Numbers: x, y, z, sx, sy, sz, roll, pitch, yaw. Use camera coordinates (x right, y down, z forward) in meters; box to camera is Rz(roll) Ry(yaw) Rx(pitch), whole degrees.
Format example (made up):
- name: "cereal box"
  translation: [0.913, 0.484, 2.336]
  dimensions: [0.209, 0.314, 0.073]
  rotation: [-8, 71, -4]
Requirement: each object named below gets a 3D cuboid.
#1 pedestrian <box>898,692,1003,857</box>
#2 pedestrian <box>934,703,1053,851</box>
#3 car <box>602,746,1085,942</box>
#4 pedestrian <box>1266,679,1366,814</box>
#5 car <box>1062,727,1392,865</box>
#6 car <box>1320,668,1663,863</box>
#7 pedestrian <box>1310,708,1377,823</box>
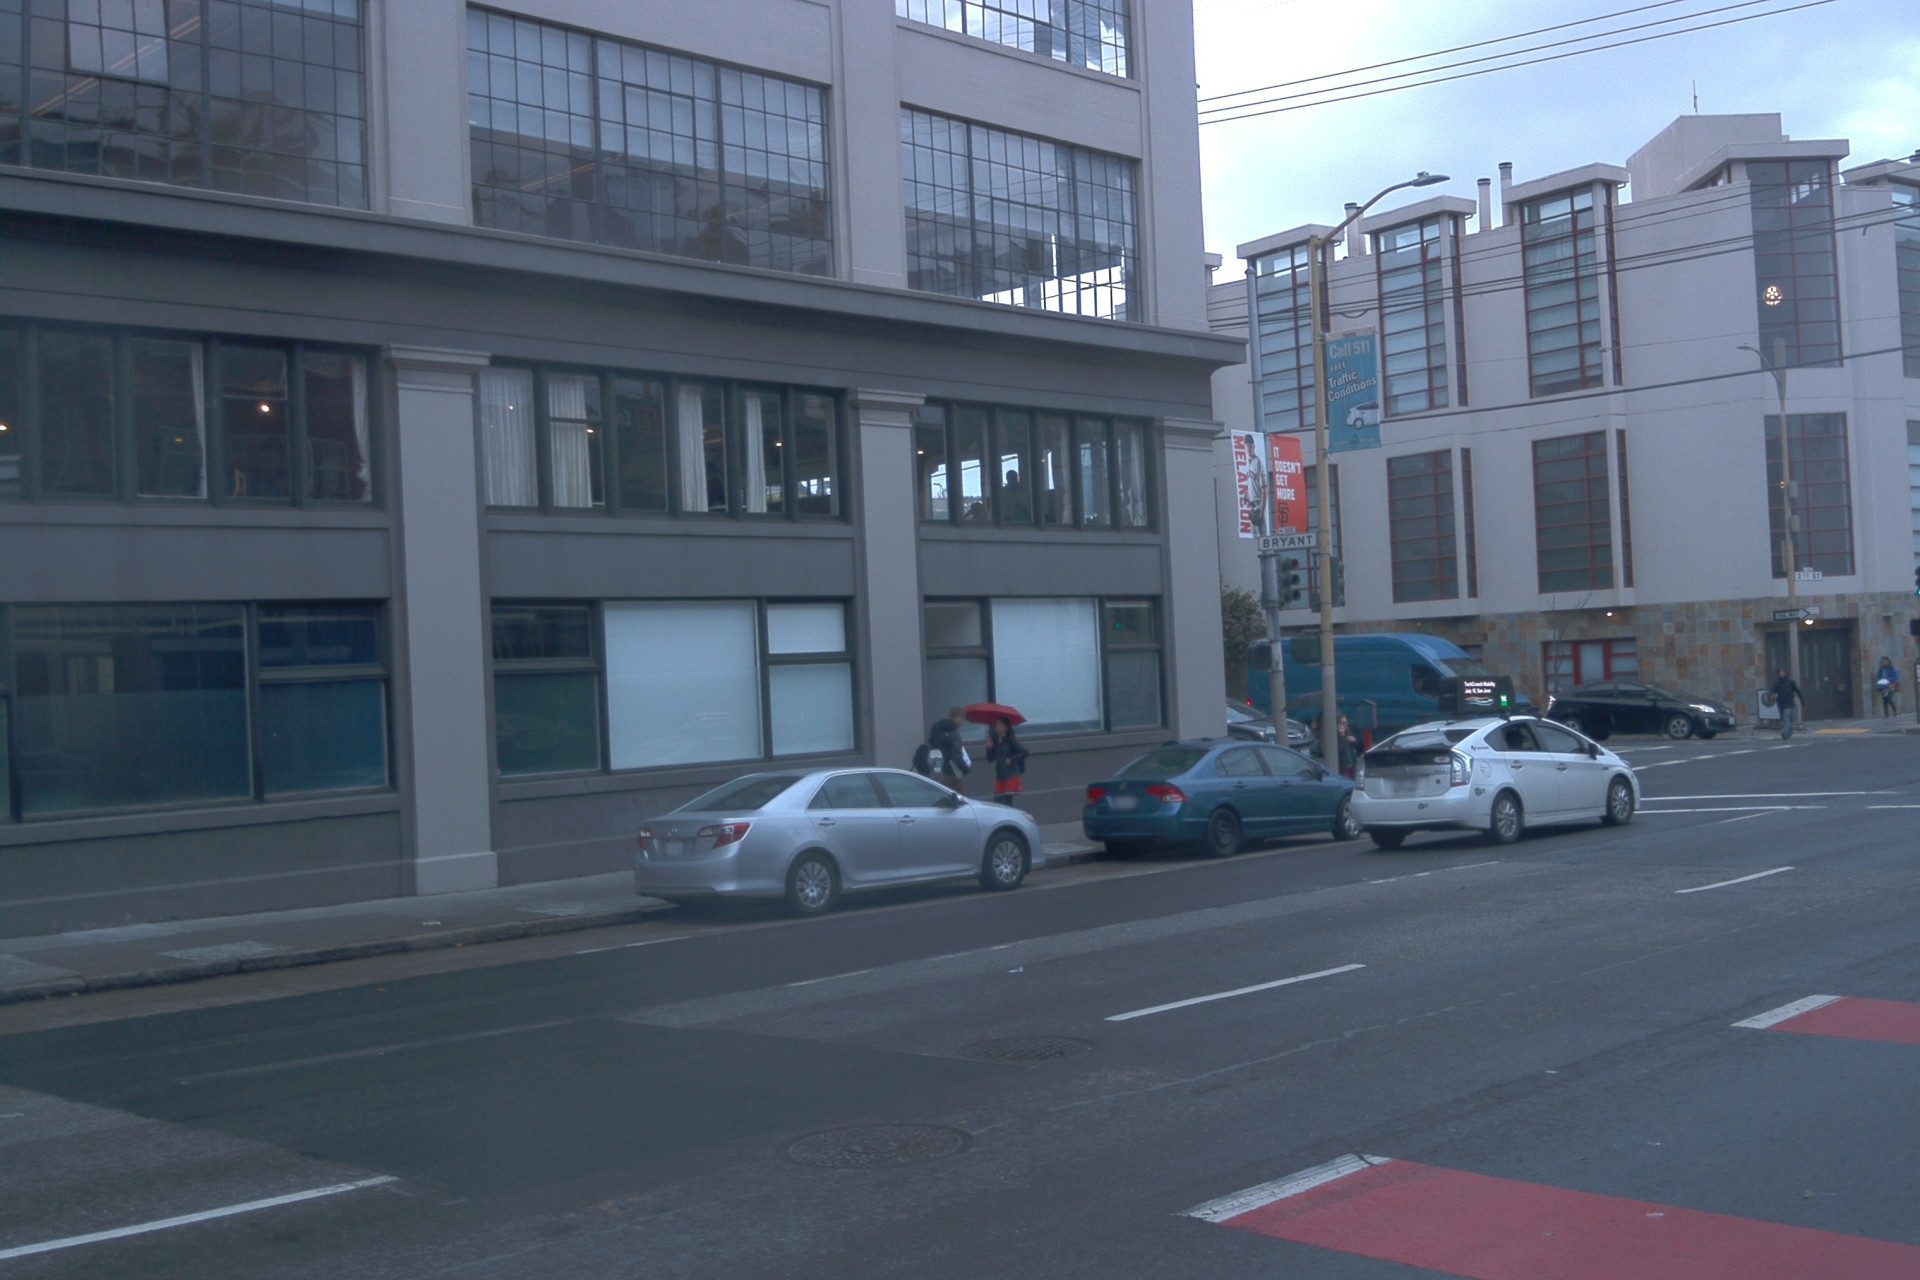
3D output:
- name: "pedestrian"
  translation: [-0.123, 1.674, 26.298]
  dimensions: [0.909, 1.990, 0.967]
  rotation: [0, 0, 44]
- name: "pedestrian"
  translation: [0.456, 1.824, 28.179]
  dimensions: [1.124, 1.900, 1.157]
  rotation: [0, 0, 44]
- name: "car"
  translation: [-1.096, 2.015, 21.781]
  dimensions: [2.014, 1.570, 4.989]
  rotation: [0, 0, 44]
- name: "pedestrian"
  translation: [5.785, 1.697, 33.787]
  dimensions: [1.132, 2.110, 1.190]
  rotation: [0, 0, 44]
- name: "car"
  translation: [3.493, 1.920, 26.621]
  dimensions: [1.913, 1.440, 4.430]
  rotation: [0, 0, 44]
- name: "car"
  translation: [6.542, 1.416, 25.311]
  dimensions: [2.037, 2.090, 4.605]
  rotation: [0, 0, 44]
- name: "pedestrian"
  translation: [5.764, 1.875, 31.259]
  dimensions: [0.825, 1.670, 0.591]
  rotation: [0, 0, -35]
